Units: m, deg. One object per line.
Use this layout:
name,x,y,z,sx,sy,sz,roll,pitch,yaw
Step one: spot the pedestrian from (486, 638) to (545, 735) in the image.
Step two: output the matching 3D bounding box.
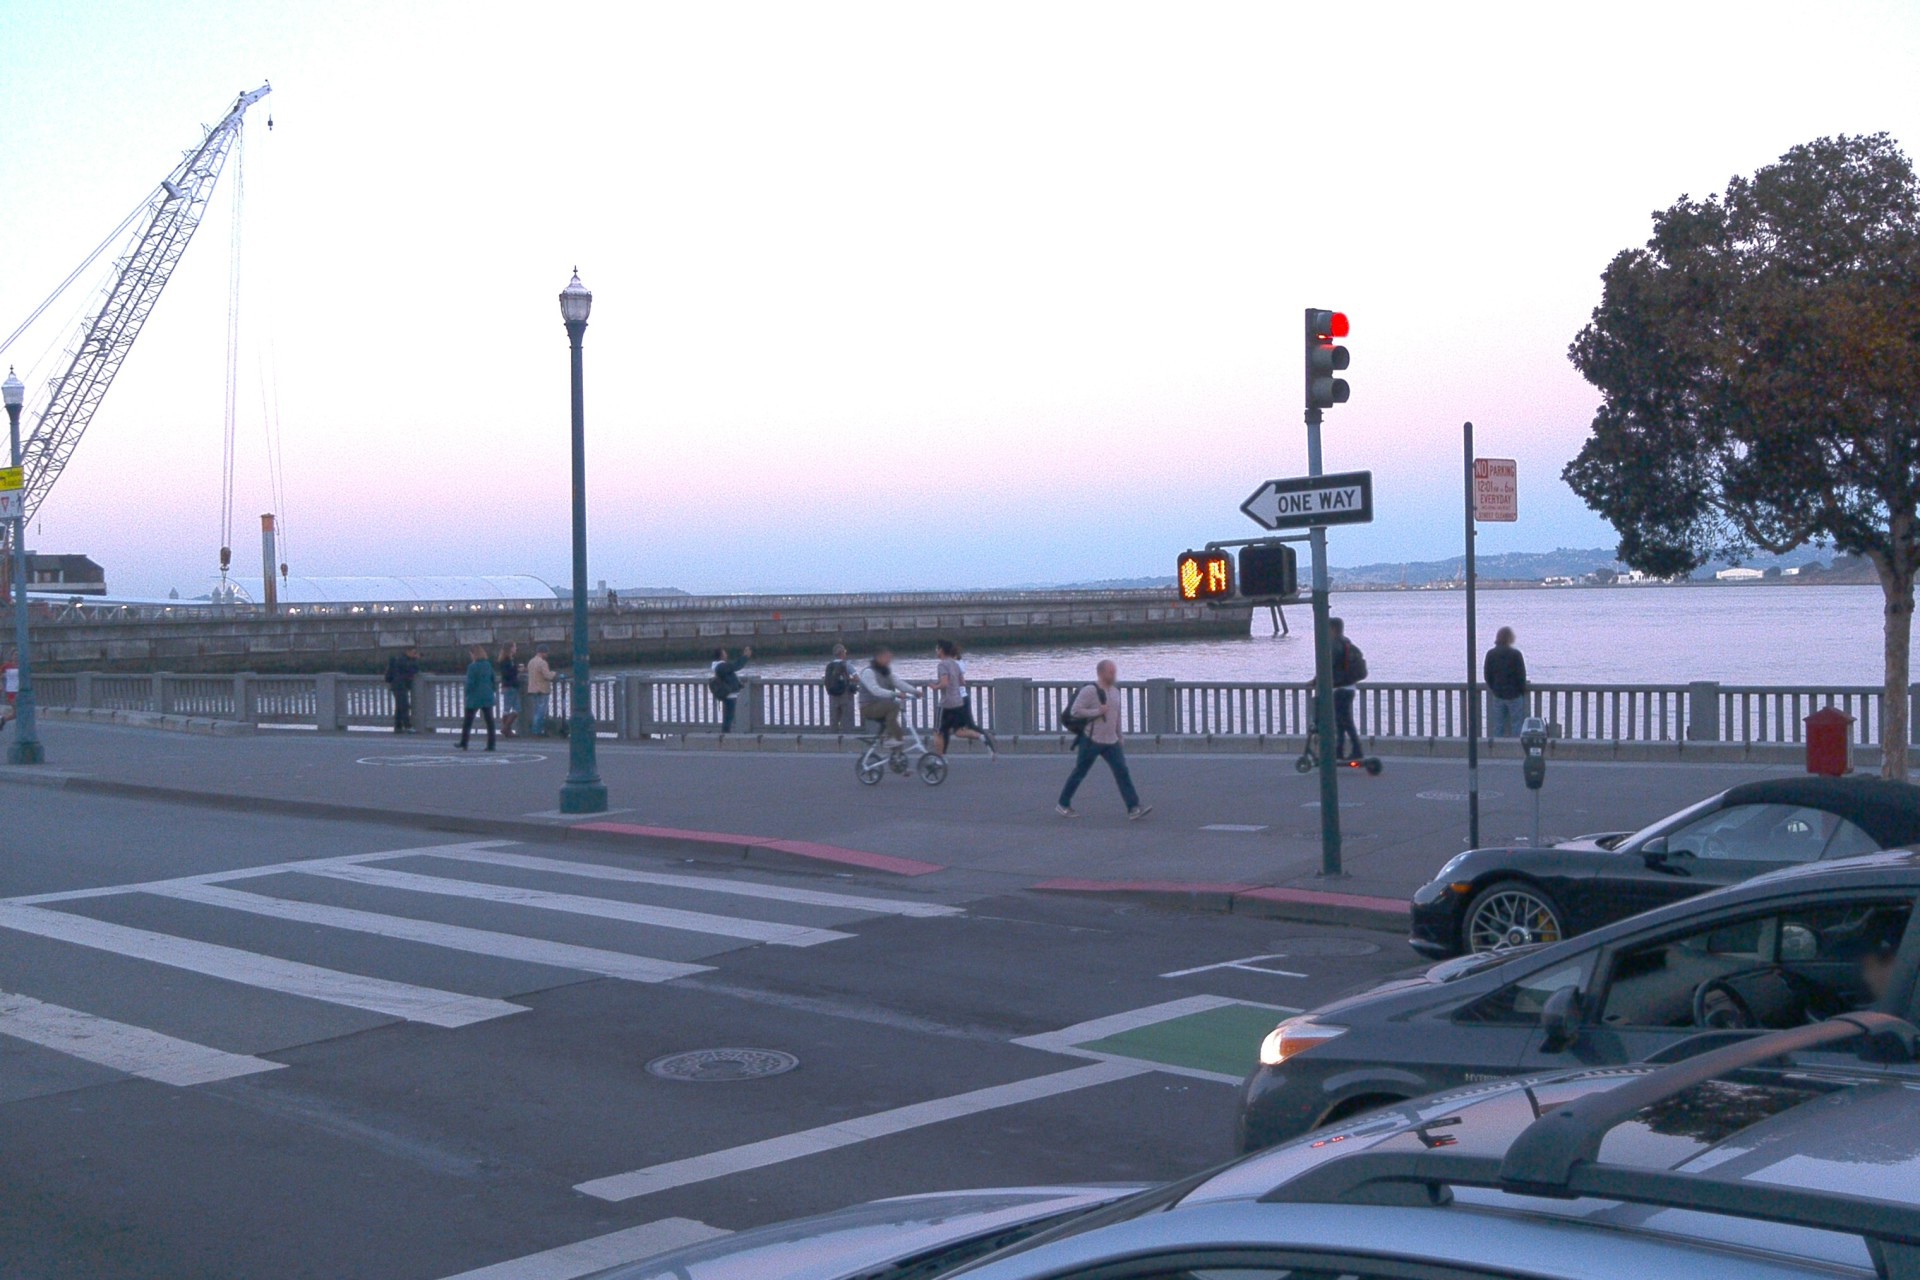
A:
pedestrian,-7.972,0.829,37.196,0.825,1.710,0.731,0,0,-31

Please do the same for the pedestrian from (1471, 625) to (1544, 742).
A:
pedestrian,7.223,0.564,27.345,0.751,1.510,0.681,0,0,33

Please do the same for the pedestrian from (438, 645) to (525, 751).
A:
pedestrian,-7.697,0.921,33.342,0.989,1.680,0.931,0,0,34

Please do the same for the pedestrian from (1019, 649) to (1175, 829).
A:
pedestrian,1.369,0.955,20.701,1.162,1.730,1.021,0,0,41

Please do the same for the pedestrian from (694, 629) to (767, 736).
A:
pedestrian,-3.685,0.673,33.243,0.867,1.680,0.881,0,0,-30

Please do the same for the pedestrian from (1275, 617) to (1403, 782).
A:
pedestrian,4.414,0.681,24.131,1.209,1.860,0.886,0,0,34

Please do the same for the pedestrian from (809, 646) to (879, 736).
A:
pedestrian,-1.823,0.795,32.771,0.792,1.400,0.928,0,0,21

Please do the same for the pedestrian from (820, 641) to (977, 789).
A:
pedestrian,-0.726,0.863,24.517,1.529,1.680,1.060,0,0,30

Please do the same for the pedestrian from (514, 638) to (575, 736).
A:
pedestrian,-7.380,0.827,36.850,0.753,1.710,0.745,0,0,33

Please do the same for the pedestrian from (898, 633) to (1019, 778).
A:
pedestrian,-0.020,0.824,26.696,1.211,1.820,0.977,0,0,34
